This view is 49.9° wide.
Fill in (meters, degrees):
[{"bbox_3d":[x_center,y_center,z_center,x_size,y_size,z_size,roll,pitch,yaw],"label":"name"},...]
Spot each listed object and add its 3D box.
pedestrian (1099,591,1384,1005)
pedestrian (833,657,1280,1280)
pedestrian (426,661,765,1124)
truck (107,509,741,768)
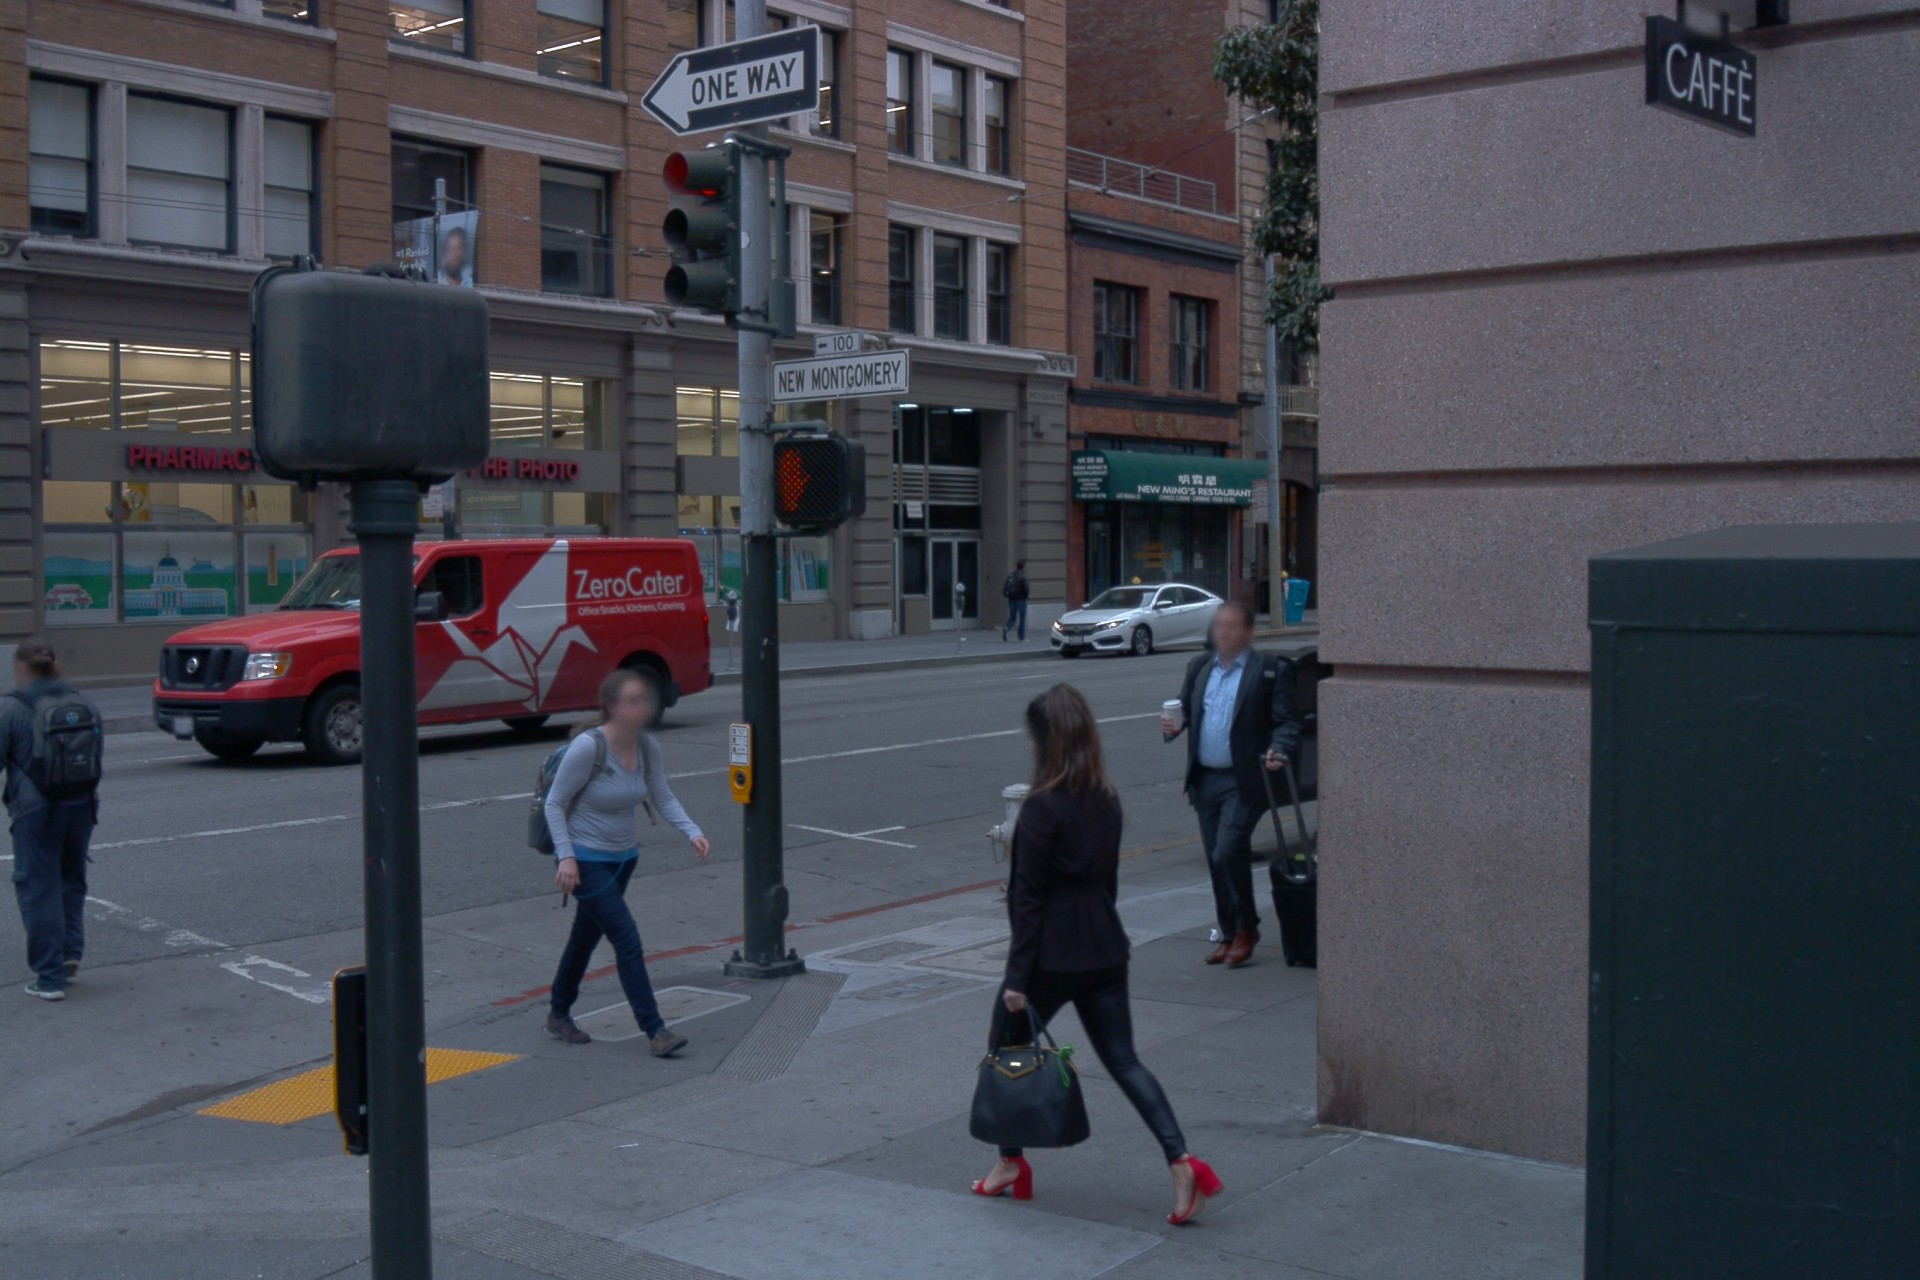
[{"bbox_3d":[1.365,0.703,9.971,0.858,1.860,1.120,1,1,45],"label":"pedestrian"},{"bbox_3d":[0.293,0.915,6.195,1.093,1.710,0.782,0,1,33],"label":"pedestrian"},{"bbox_3d":[-1.536,0.987,8.700,1.086,1.765,0.922,1,1,41],"label":"pedestrian"},{"bbox_3d":[-5.178,-0.041,20.981,2.356,2.240,6.072,0,1,37],"label":"truck"}]
